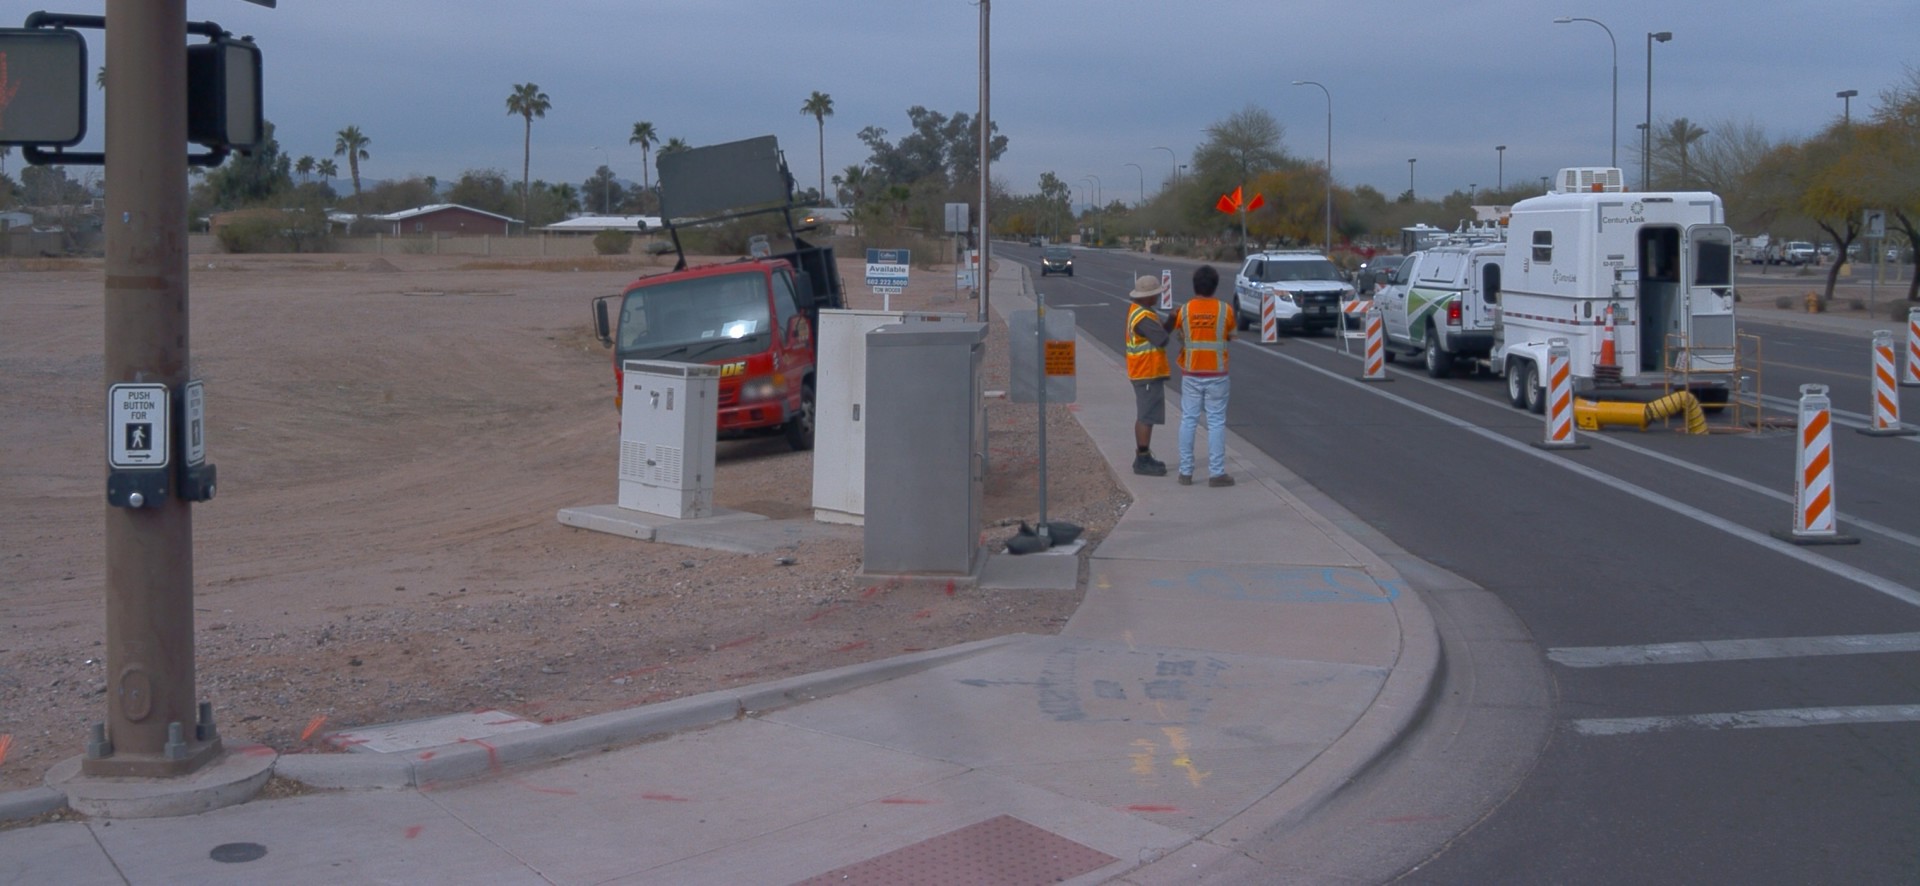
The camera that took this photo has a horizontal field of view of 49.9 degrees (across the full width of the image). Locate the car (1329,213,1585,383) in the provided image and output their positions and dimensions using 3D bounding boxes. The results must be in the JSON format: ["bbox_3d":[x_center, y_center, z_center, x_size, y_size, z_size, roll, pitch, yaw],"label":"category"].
[{"bbox_3d":[7.644,-2.366,32.437,2.449,2.401,5.807,1,5,-2],"label":"car"}]

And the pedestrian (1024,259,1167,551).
[{"bbox_3d":[1.170,-0.363,17.658,0.957,2.399,0.872,1,1,22],"label":"pedestrian"}]

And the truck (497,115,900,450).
[{"bbox_3d":[-2.894,-2.041,25.139,3.001,3.479,6.680,1,5,10],"label":"truck"}]

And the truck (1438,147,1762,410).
[{"bbox_3d":[7.808,-2.091,25.712,2.511,2.952,4.463,1,4,-2],"label":"truck"}]

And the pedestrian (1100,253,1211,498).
[{"bbox_3d":[1.608,-0.582,17.051,0.857,1.959,0.732,1,1,3],"label":"pedestrian"}]
